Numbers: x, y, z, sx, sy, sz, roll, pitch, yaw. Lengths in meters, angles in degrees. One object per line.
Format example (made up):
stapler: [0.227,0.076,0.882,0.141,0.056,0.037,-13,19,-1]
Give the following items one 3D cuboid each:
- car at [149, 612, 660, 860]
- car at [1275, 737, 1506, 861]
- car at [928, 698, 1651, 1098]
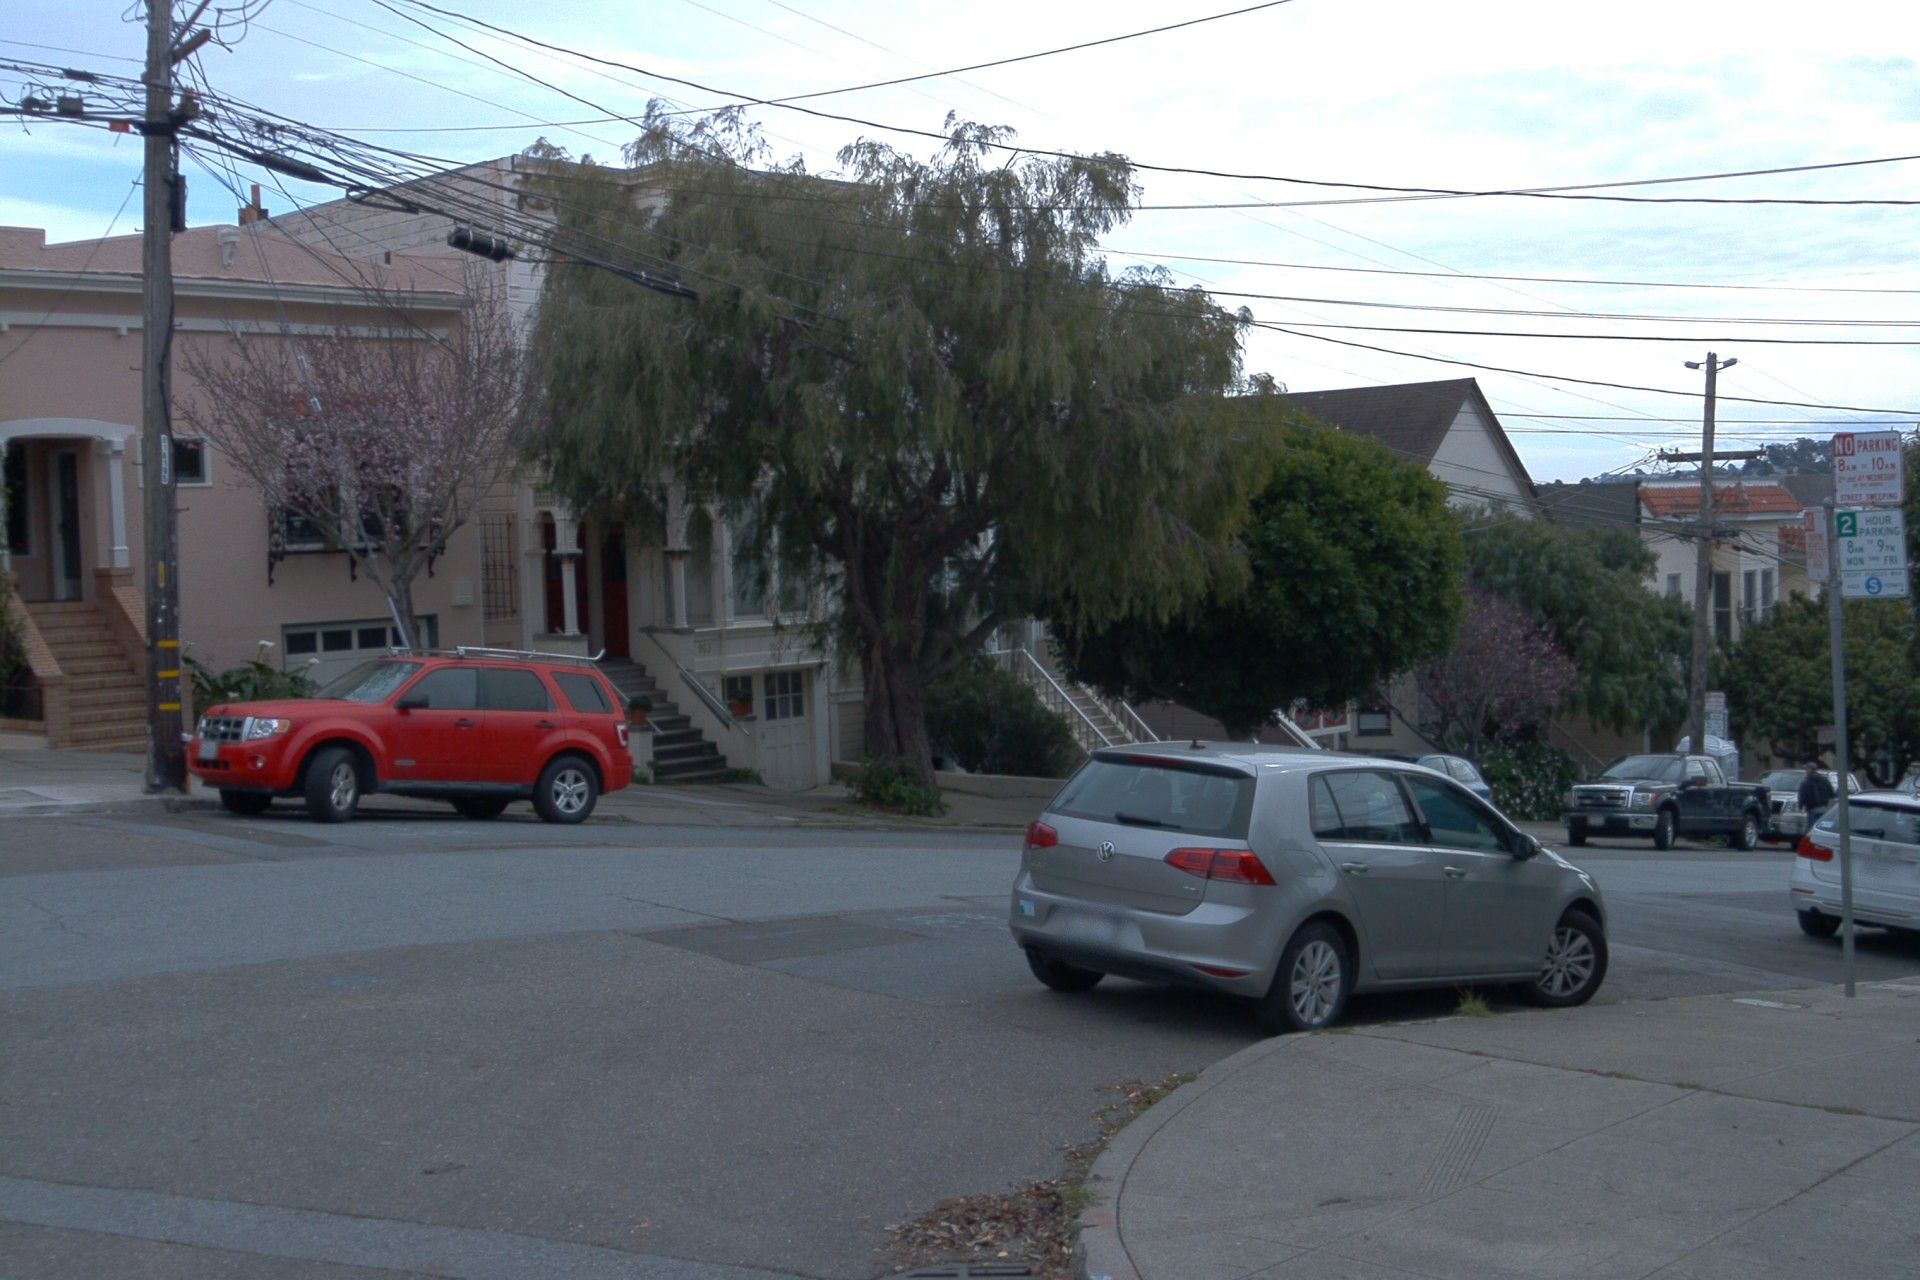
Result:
car: [-5.466,0.864,20.504,2.106,2.180,4.456,2,1,44]
car: [6.991,2.511,33.027,1.954,1.685,3.776,2,1,43]
car: [2.016,1.258,11.677,2.126,1.720,4.090,2,1,43]
